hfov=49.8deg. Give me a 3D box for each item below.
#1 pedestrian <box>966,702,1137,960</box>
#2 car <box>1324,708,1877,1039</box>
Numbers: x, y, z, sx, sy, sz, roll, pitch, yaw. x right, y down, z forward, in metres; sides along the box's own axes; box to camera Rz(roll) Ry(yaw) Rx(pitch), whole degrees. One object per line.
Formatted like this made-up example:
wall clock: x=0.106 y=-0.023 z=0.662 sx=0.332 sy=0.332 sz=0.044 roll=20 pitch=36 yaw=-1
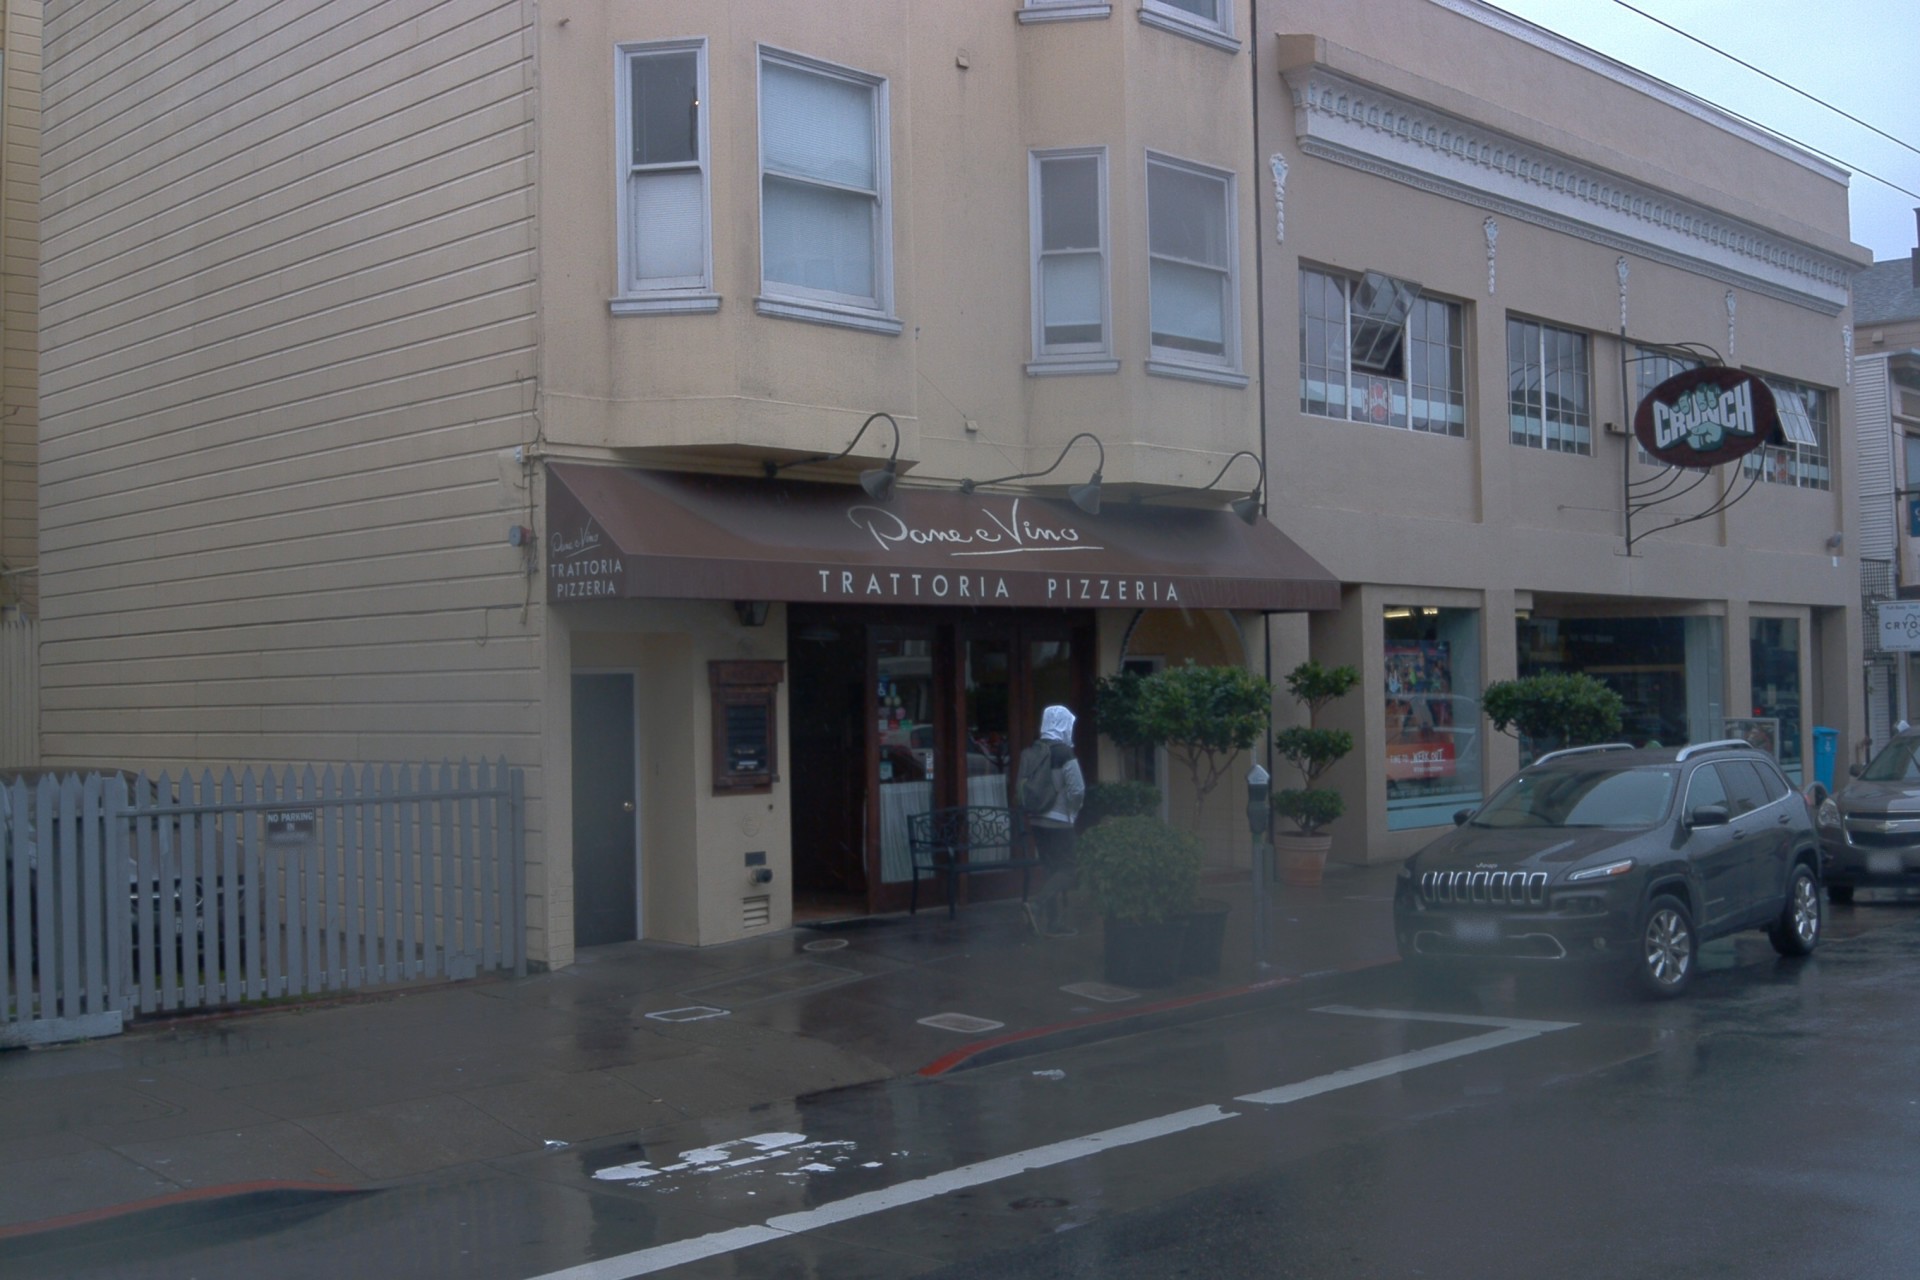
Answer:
pedestrian: x=0.688 y=1.386 z=15.413 sx=0.729 sy=1.800 sz=1.056 roll=2 pitch=1 yaw=43
car: x=4.886 y=1.524 z=15.270 sx=2.113 sy=1.830 sz=4.891 roll=2 pitch=1 yaw=40
